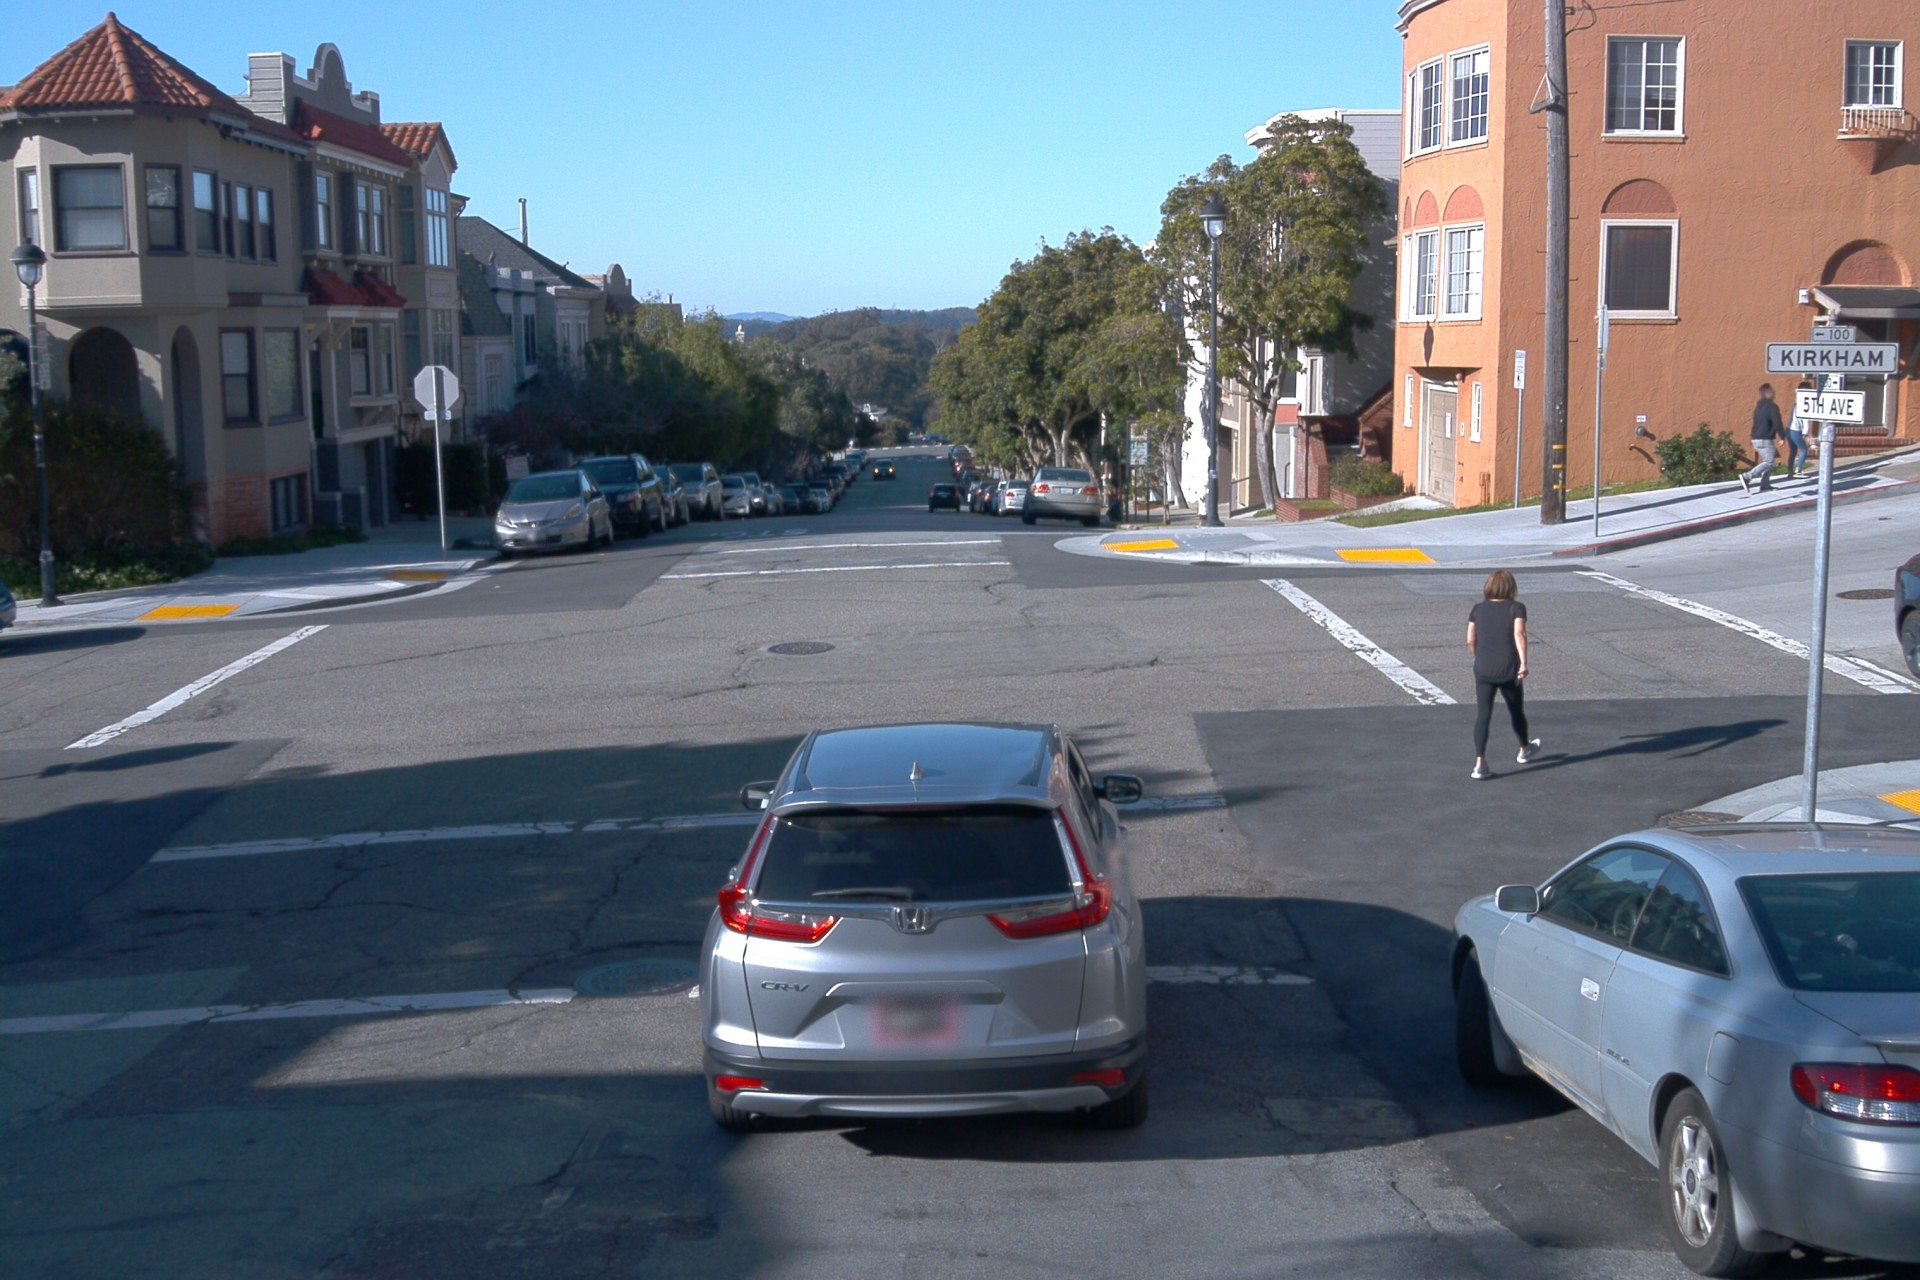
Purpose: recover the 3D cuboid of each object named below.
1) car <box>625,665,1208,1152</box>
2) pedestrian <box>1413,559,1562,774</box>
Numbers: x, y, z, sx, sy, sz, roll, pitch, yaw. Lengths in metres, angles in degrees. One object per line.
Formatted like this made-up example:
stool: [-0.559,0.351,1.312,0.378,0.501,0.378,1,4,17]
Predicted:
car: [-0.175,1.037,10.135,2.191,1.800,4.695,0,0,0]
pedestrian: [4.150,0.205,16.259,0.731,1.620,1.127,0,0,39]
